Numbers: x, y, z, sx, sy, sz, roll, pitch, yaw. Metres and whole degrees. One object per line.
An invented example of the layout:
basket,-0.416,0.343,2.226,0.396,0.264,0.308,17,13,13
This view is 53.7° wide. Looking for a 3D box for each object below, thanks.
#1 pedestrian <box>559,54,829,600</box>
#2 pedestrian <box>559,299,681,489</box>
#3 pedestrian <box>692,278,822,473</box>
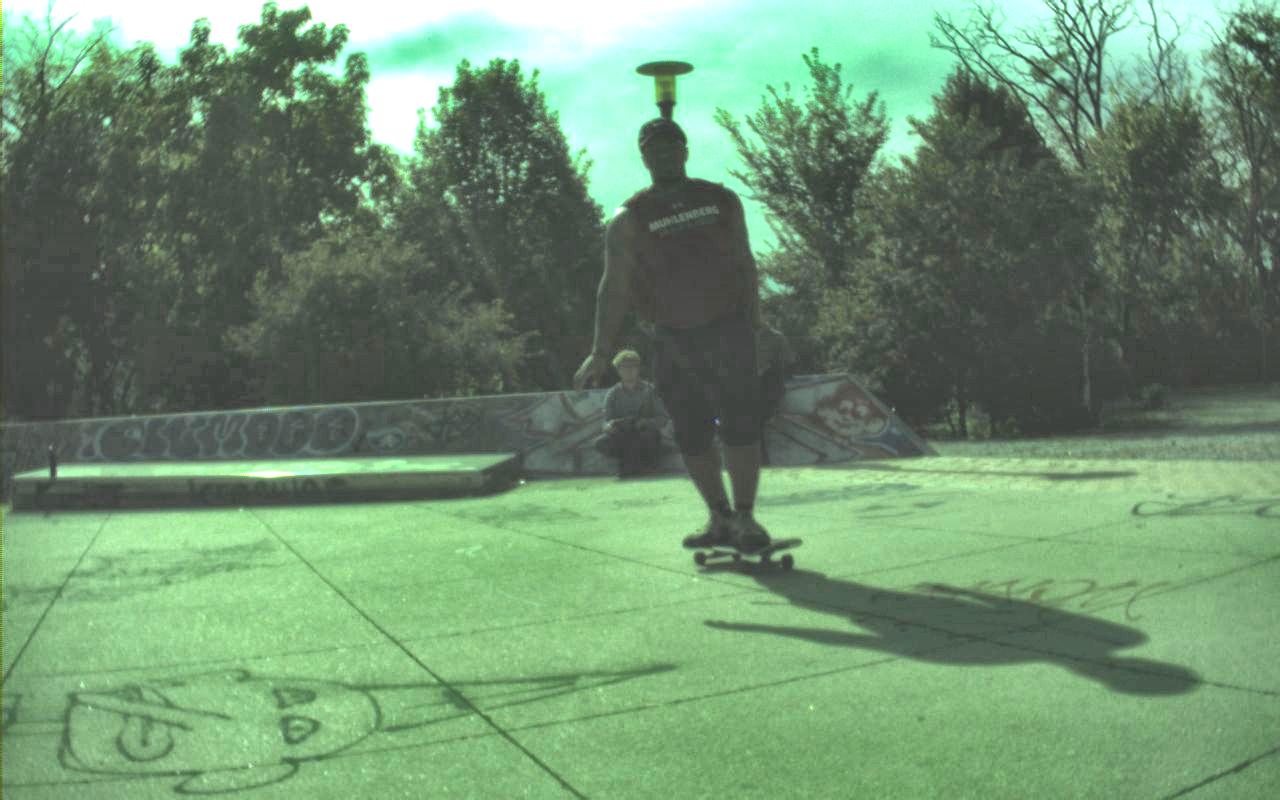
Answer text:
pedestrian,0.166,-0.257,4.624,0.848,1.822,0.878,0,0,-9
pedestrian,-0.187,-0.057,11.123,0.810,1.593,0.834,0,0,-24
pedestrian,1.038,-0.220,11.281,0.861,1.665,0.826,0,0,-24
